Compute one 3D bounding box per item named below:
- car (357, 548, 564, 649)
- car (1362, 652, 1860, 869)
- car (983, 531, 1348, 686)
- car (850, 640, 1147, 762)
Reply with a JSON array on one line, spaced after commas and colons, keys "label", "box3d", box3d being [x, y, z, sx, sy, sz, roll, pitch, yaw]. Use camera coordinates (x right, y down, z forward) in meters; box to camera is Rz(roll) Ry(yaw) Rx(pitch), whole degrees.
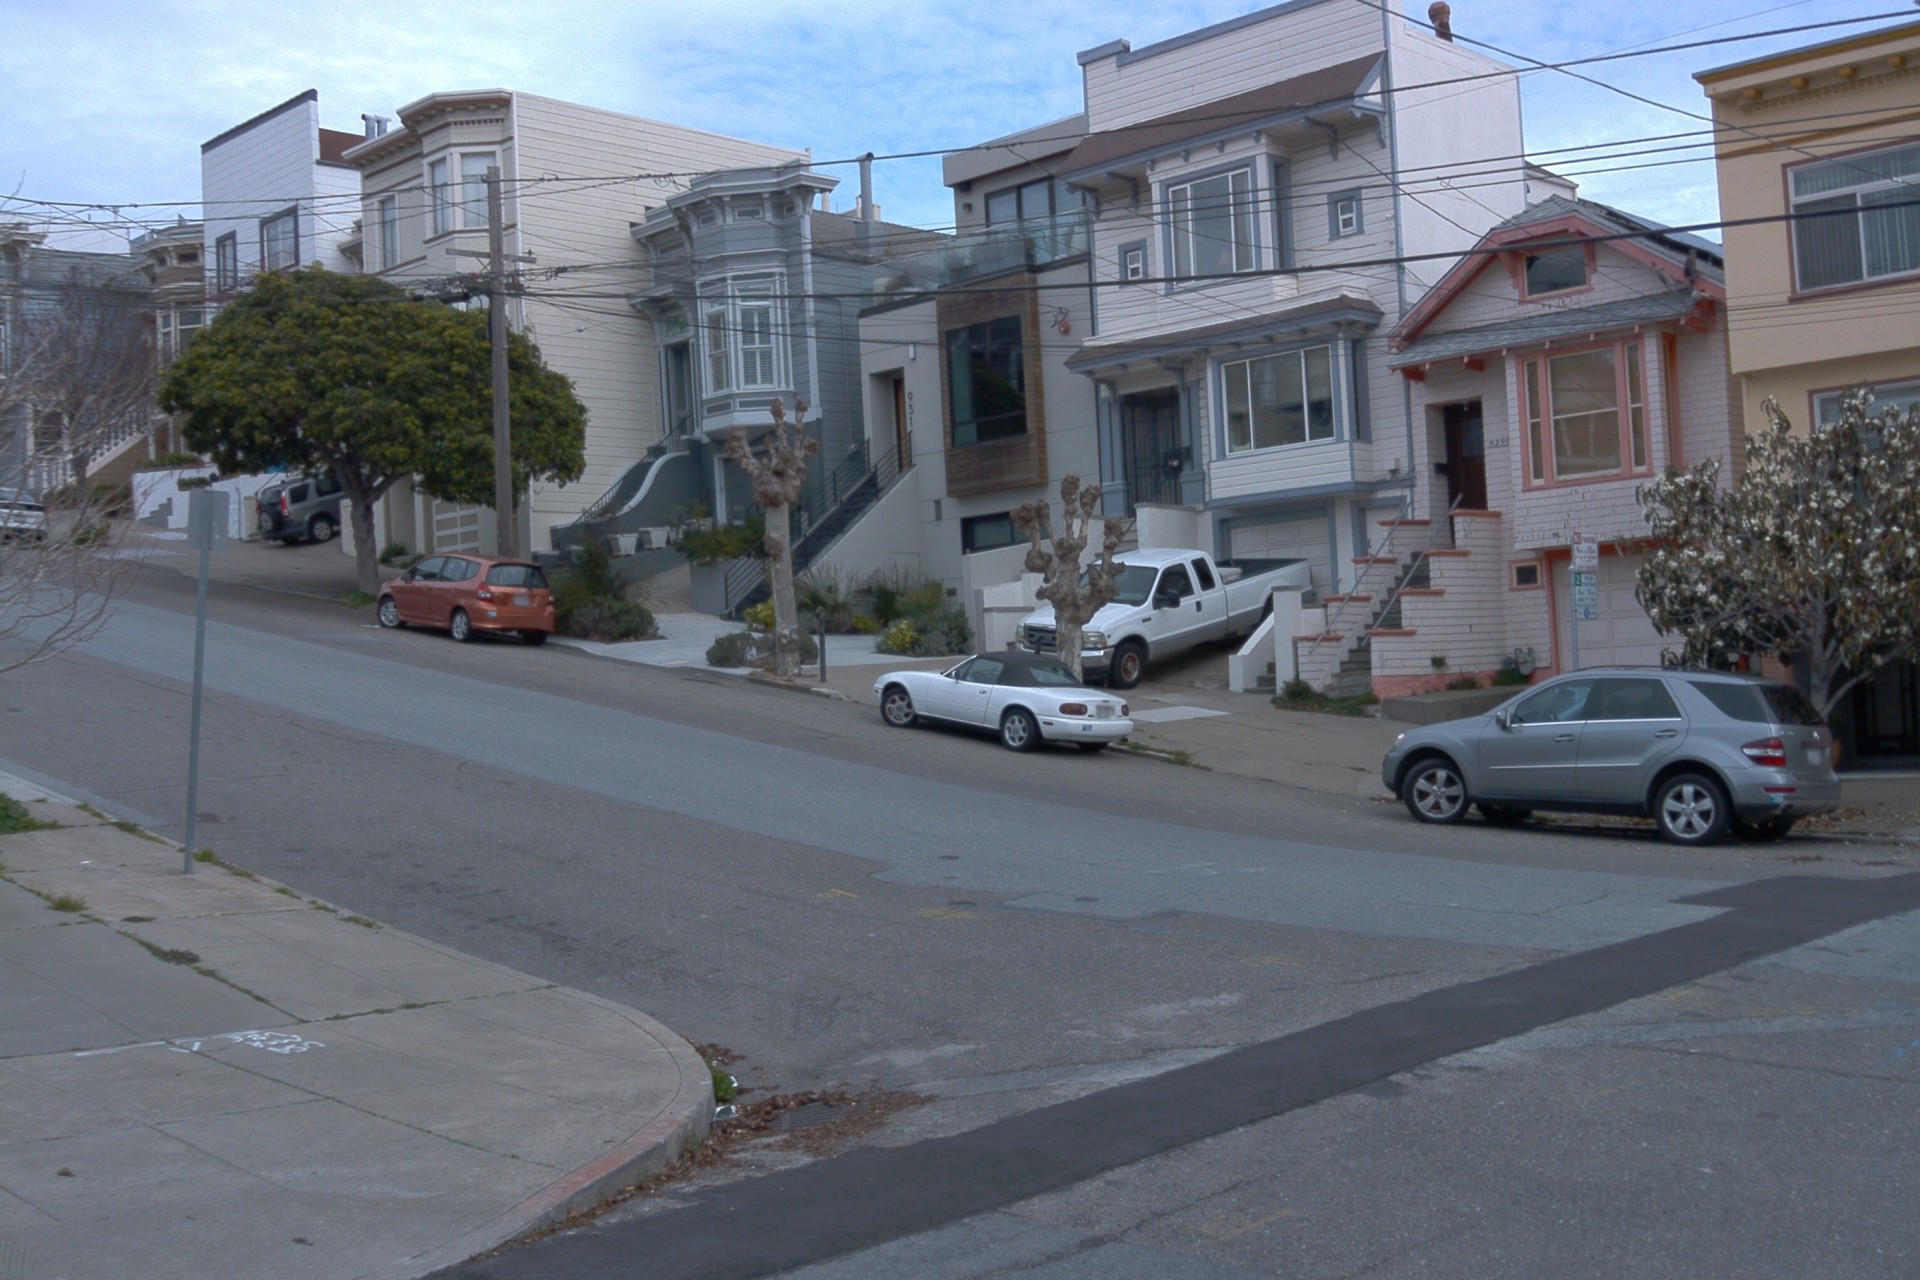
[{"label": "car", "box3d": [-8.907, -0.732, 36.404, 3.774, 1.703, 1.781, 1, 1, 43]}, {"label": "car", "box3d": [6.703, 1.137, 21.431, 4.549, 1.930, 1.958, 1, 1, 45]}, {"label": "car", "box3d": [3.609, -0.516, 34.904, 6.277, 2.400, 2.723, 0, 1, -44]}, {"label": "car", "box3d": [0.464, 0.759, 27.448, 3.800, 1.460, 1.723, 1, 1, 44]}]
